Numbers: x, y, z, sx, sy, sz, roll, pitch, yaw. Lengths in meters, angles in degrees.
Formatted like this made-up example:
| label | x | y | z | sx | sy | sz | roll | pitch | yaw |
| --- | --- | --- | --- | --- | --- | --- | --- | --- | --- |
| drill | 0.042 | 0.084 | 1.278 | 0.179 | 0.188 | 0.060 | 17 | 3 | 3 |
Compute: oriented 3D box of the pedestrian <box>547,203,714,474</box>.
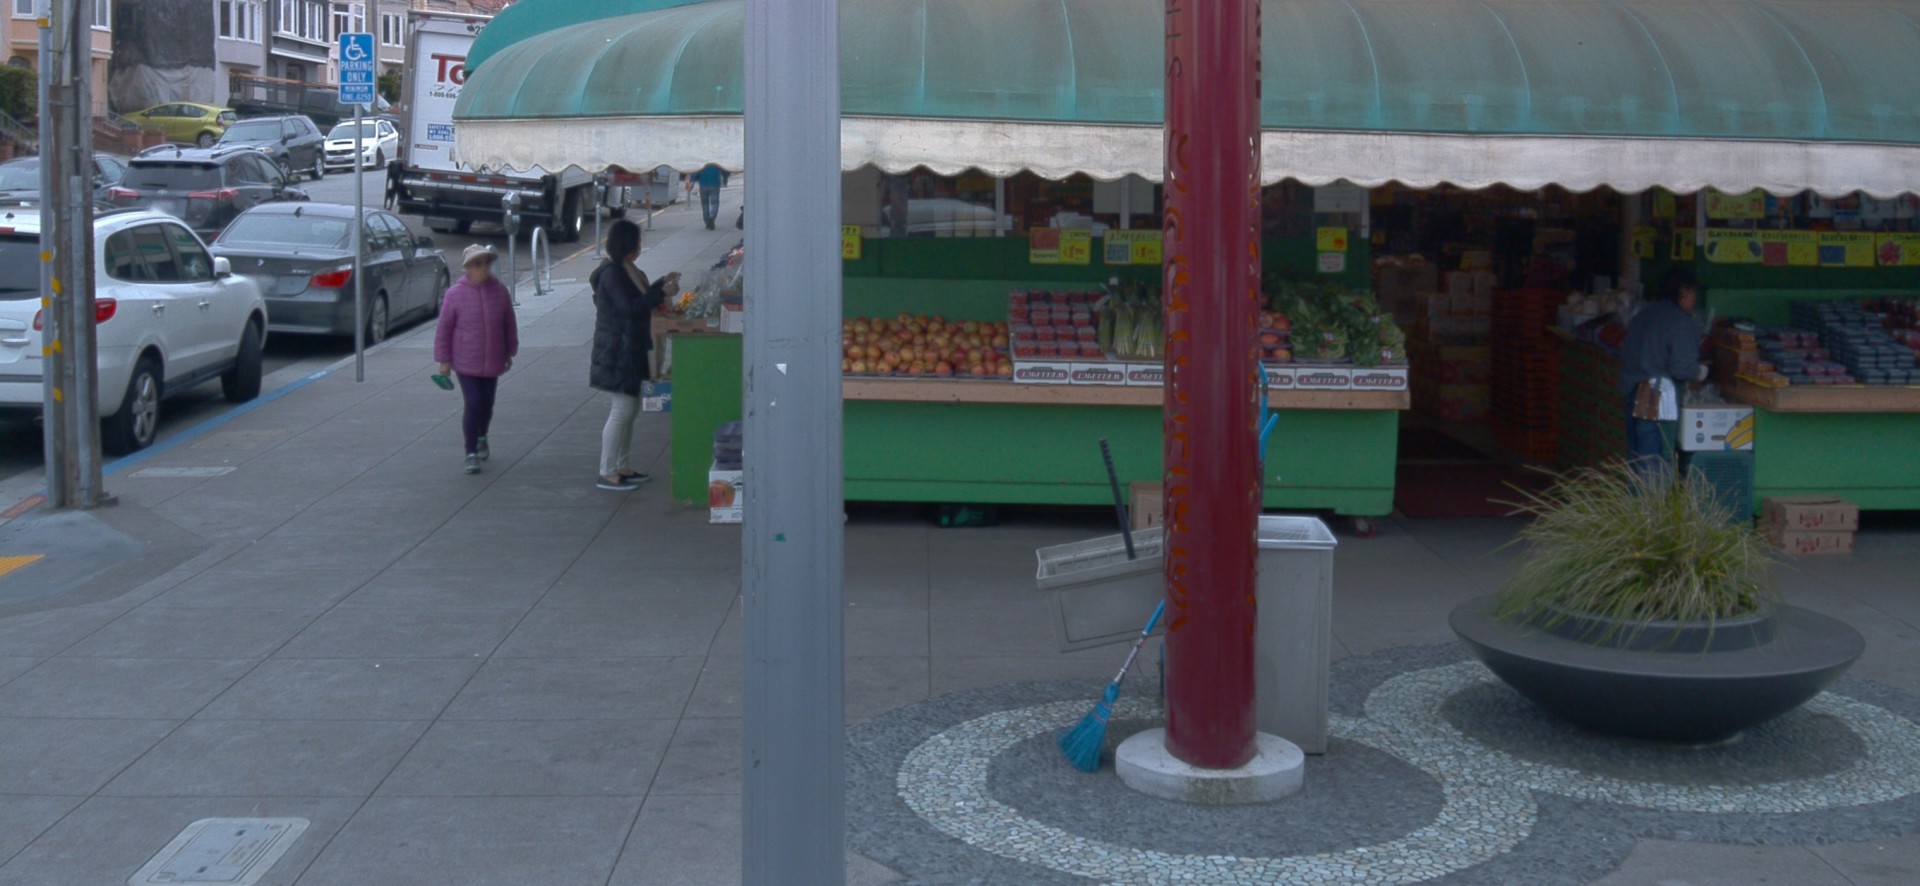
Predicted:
| label | x | y | z | sx | sy | sz | roll | pitch | yaw |
| --- | --- | --- | --- | --- | --- | --- | --- | --- | --- |
| pedestrian | -2.053 | -0.677 | 12.774 | 0.796 | 1.607 | 0.823 | -1 | 2 | -28 |

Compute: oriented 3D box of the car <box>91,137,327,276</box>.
| label | x | y | z | sx | sy | sz | roll | pitch | yaw |
| --- | --- | --- | --- | --- | --- | --- | --- | --- | --- |
| car | -10.224 | -3.243 | 28.373 | 1.910 | 1.752 | 4.446 | 0 | 5 | -4 |

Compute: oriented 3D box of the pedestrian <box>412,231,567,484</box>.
| label | x | y | z | sx | sy | sz | roll | pitch | yaw |
| --- | --- | --- | --- | --- | --- | --- | --- | --- | --- |
| pedestrian | -3.044 | -0.581 | 13.285 | 0.704 | 1.564 | 0.799 | -1 | 3 | -37 |

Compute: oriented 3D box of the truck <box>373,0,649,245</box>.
| label | x | y | z | sx | sy | sz | roll | pitch | yaw |
| --- | --- | --- | --- | --- | --- | --- | --- | --- | --- |
| truck | -7.692 | -5.487 | 36.839 | 2.914 | 3.770 | 10.115 | 0 | 5 | -1 |

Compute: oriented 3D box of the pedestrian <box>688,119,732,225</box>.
| label | x | y | z | sx | sy | sz | roll | pitch | yaw |
| --- | --- | --- | --- | --- | --- | --- | --- | --- | --- |
| pedestrian | -4.332 | -4.686 | 35.705 | 0.707 | 1.817 | 0.655 | 0 | 2 | -3 |

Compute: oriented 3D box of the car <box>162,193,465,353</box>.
| label | x | y | z | sx | sy | sz | roll | pitch | yaw |
| --- | --- | --- | --- | --- | --- | --- | --- | --- | --- |
| car | -6.709 | -1.862 | 21.905 | 1.969 | 1.513 | 4.609 | 0 | 6 | -3 |

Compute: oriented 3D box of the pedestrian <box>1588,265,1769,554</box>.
| label | x | y | z | sx | sy | sz | roll | pitch | yaw |
| --- | --- | --- | --- | --- | --- | --- | --- | --- | --- |
| pedestrian | 4.032 | -0.214 | 11.596 | 0.743 | 1.557 | 0.755 | 0 | 2 | 0 |
